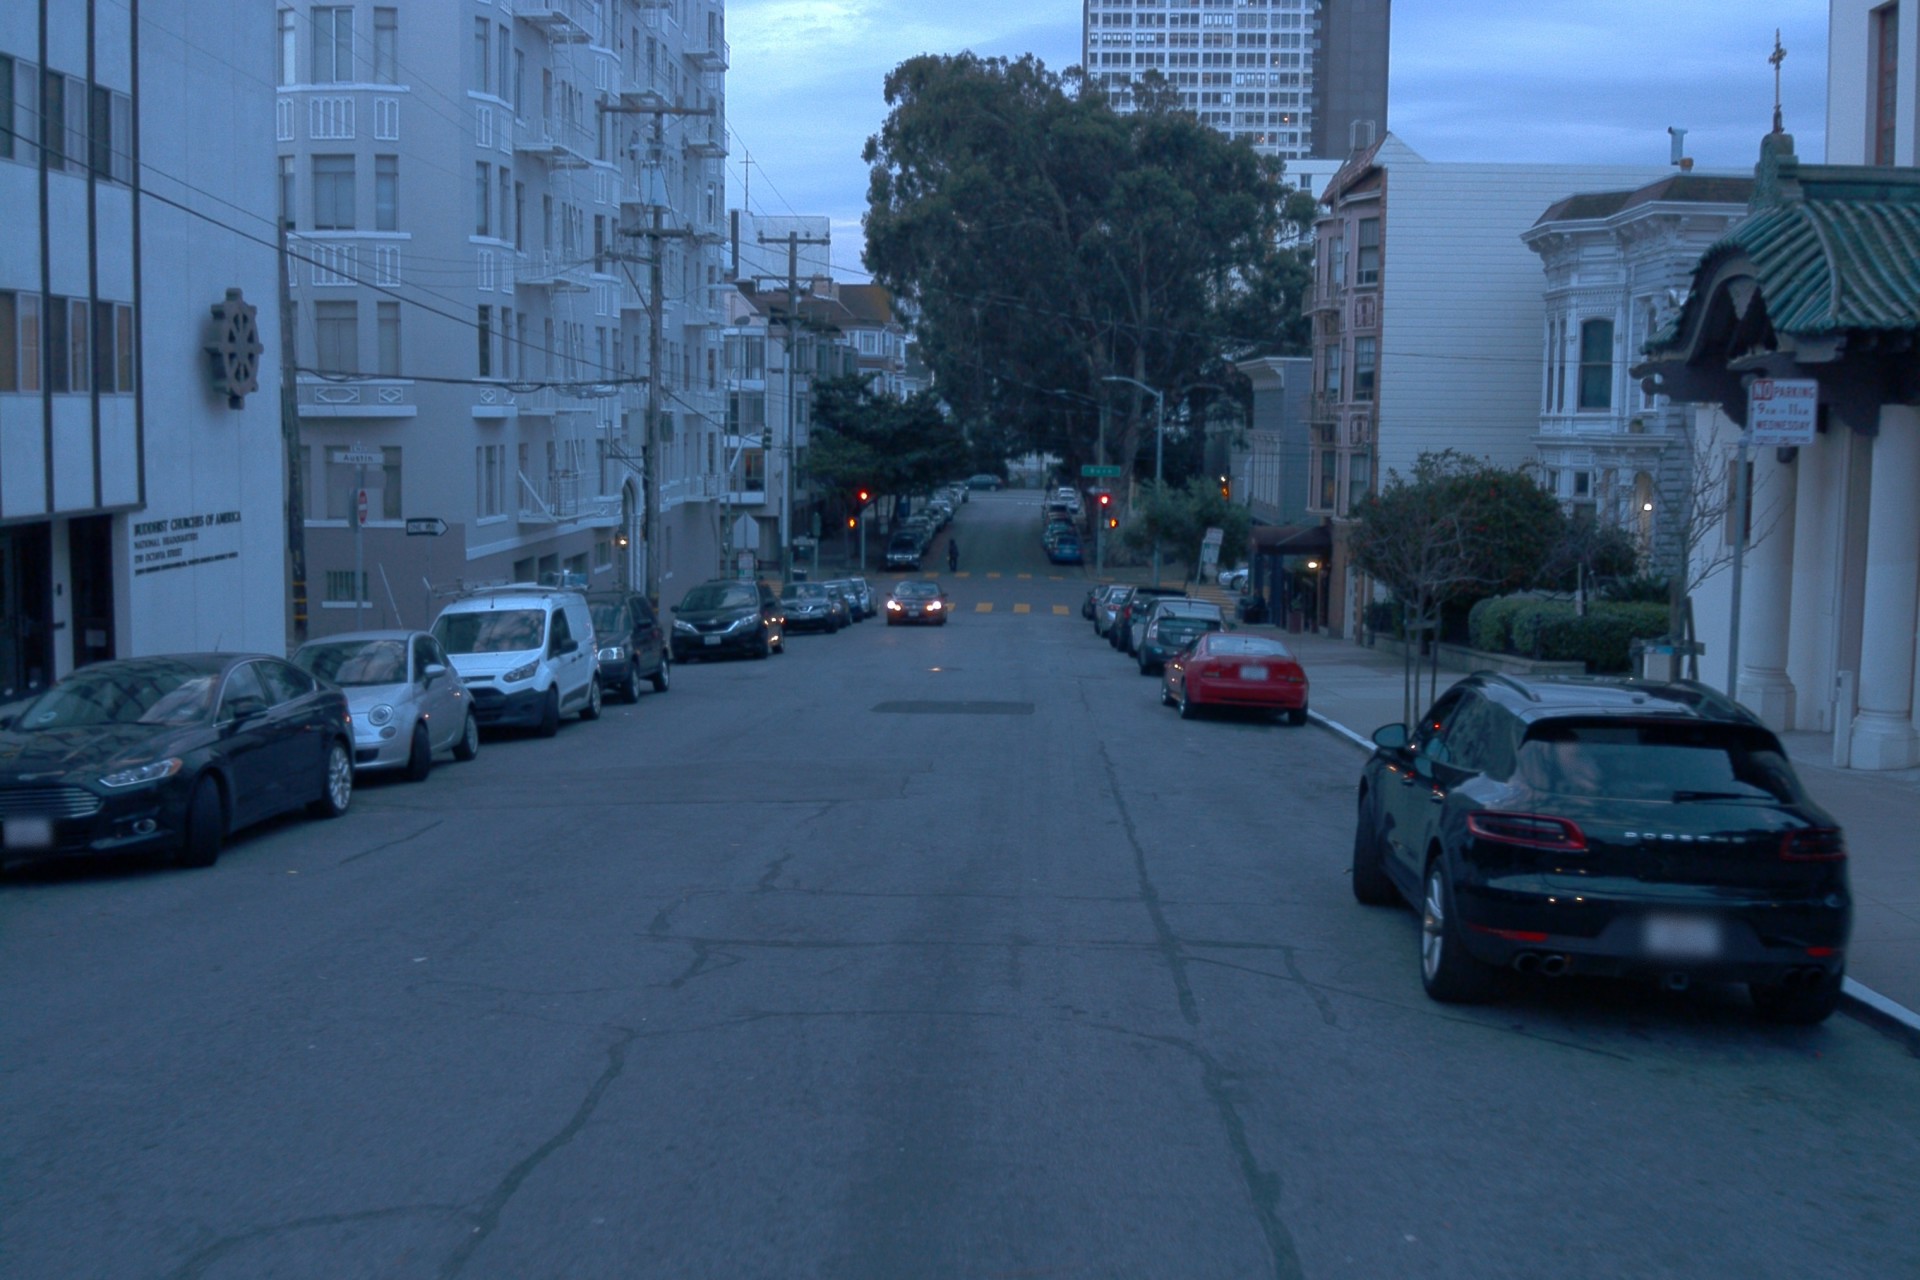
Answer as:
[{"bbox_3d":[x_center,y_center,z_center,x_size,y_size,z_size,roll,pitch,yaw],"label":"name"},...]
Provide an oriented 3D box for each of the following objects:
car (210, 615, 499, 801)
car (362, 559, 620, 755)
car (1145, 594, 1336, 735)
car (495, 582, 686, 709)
[{"bbox_3d":[-6.027,0.615,20.889,1.878,1.680,3.537,1,1,0],"label":"car"},{"bbox_3d":[-5.864,0.163,26.309,2.165,2.250,4.373,1,1,2],"label":"car"},{"bbox_3d":[4.037,0.293,30.398,2.118,1.890,4.539,1,1,-1],"label":"car"},{"bbox_3d":[-5.716,0.040,32.357,2.094,1.830,4.515,1,1,1],"label":"car"}]
